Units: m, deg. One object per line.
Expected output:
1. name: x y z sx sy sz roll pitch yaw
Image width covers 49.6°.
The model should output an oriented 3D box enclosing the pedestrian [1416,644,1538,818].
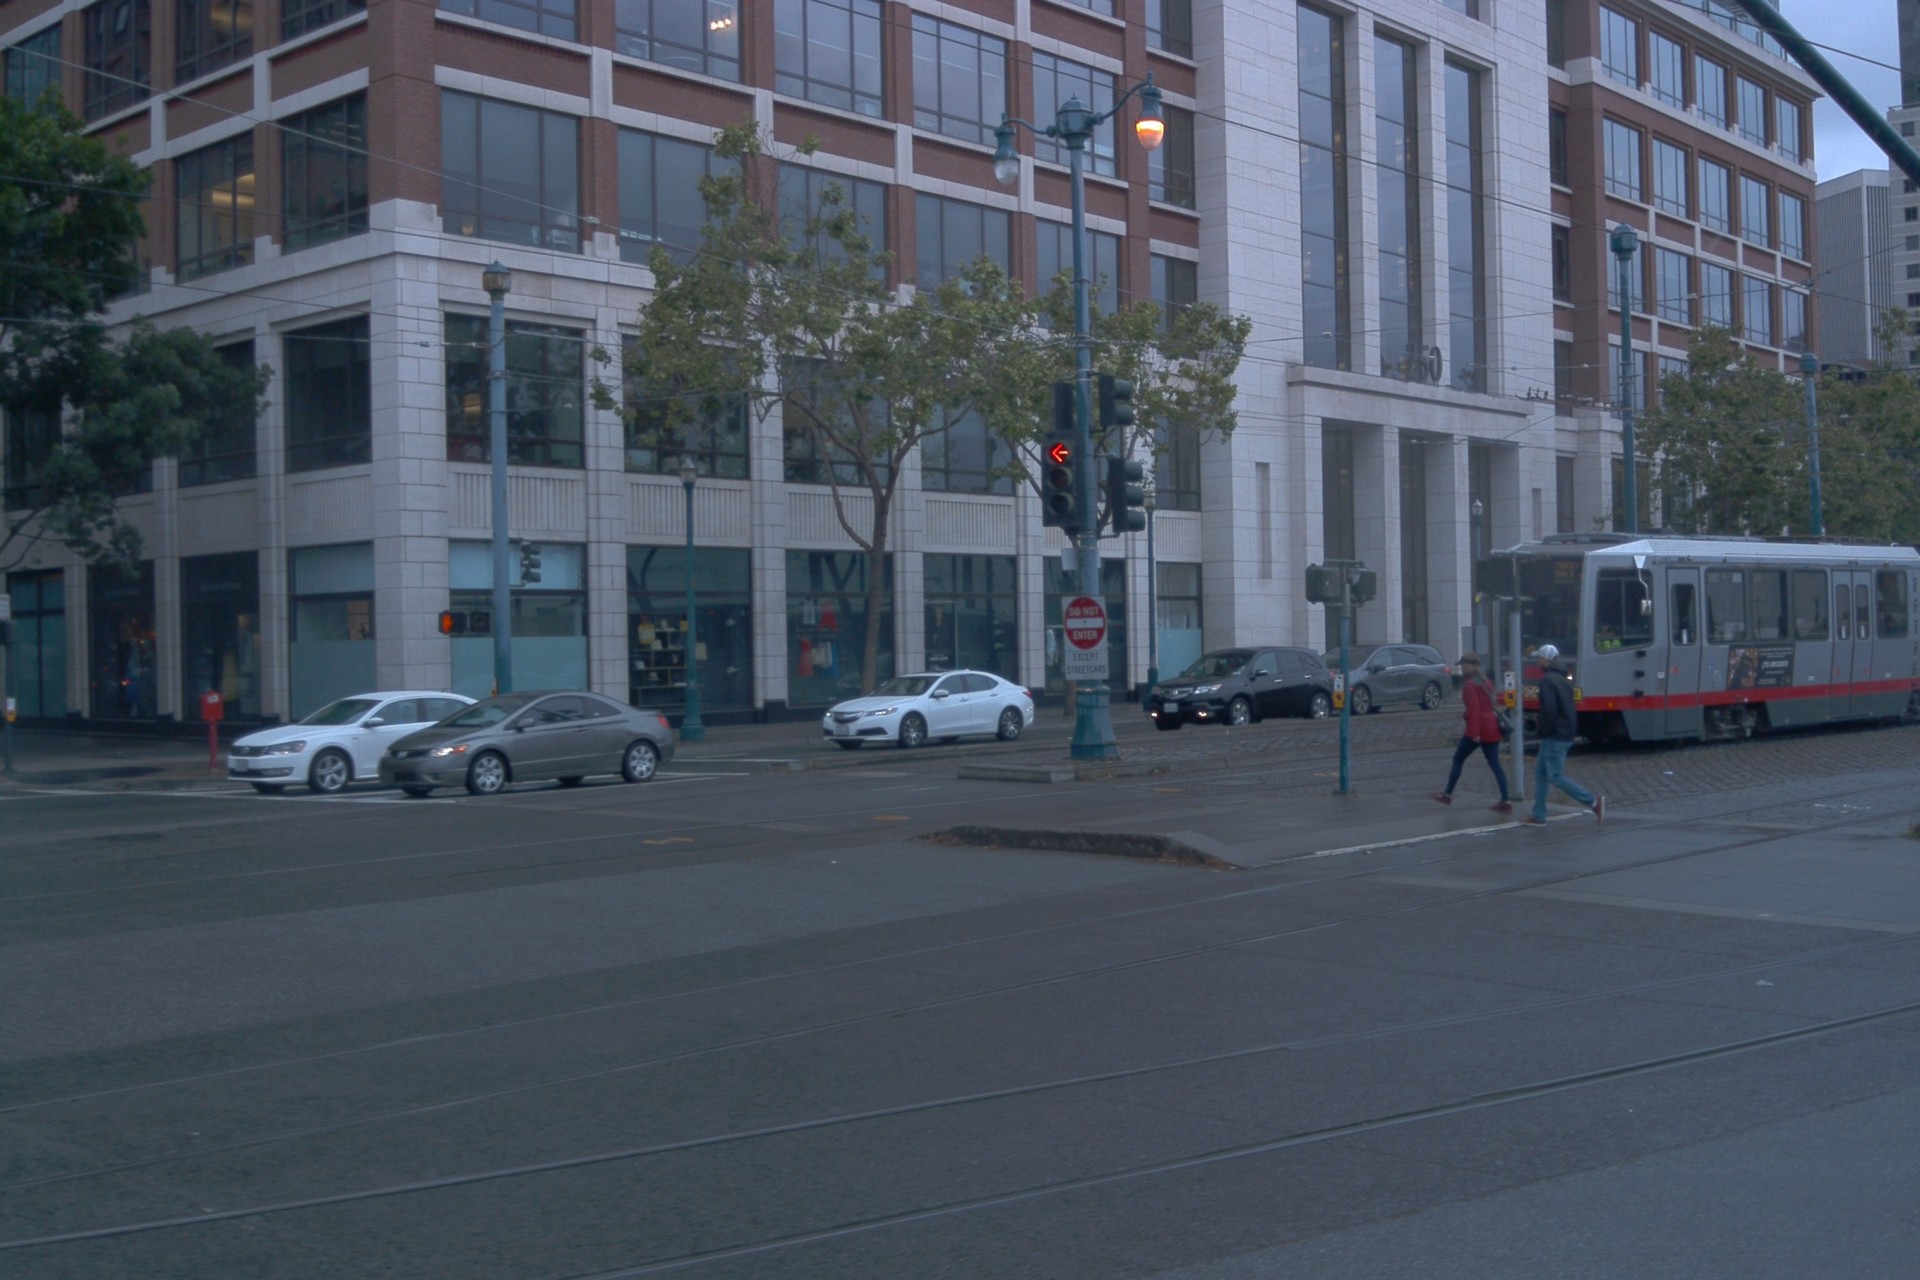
1. pedestrian: 5.427 0.927 21.834 0.978 1.770 0.836 0 0 40

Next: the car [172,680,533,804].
1. car: -8.853 1.430 30.668 2.021 1.580 4.781 0 0 40

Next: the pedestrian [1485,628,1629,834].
1. pedestrian: 5.976 0.881 20.822 1.166 2.000 0.835 0 0 36

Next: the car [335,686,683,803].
1. car: -6.102 1.363 28.537 1.908 1.380 4.414 0 0 40
